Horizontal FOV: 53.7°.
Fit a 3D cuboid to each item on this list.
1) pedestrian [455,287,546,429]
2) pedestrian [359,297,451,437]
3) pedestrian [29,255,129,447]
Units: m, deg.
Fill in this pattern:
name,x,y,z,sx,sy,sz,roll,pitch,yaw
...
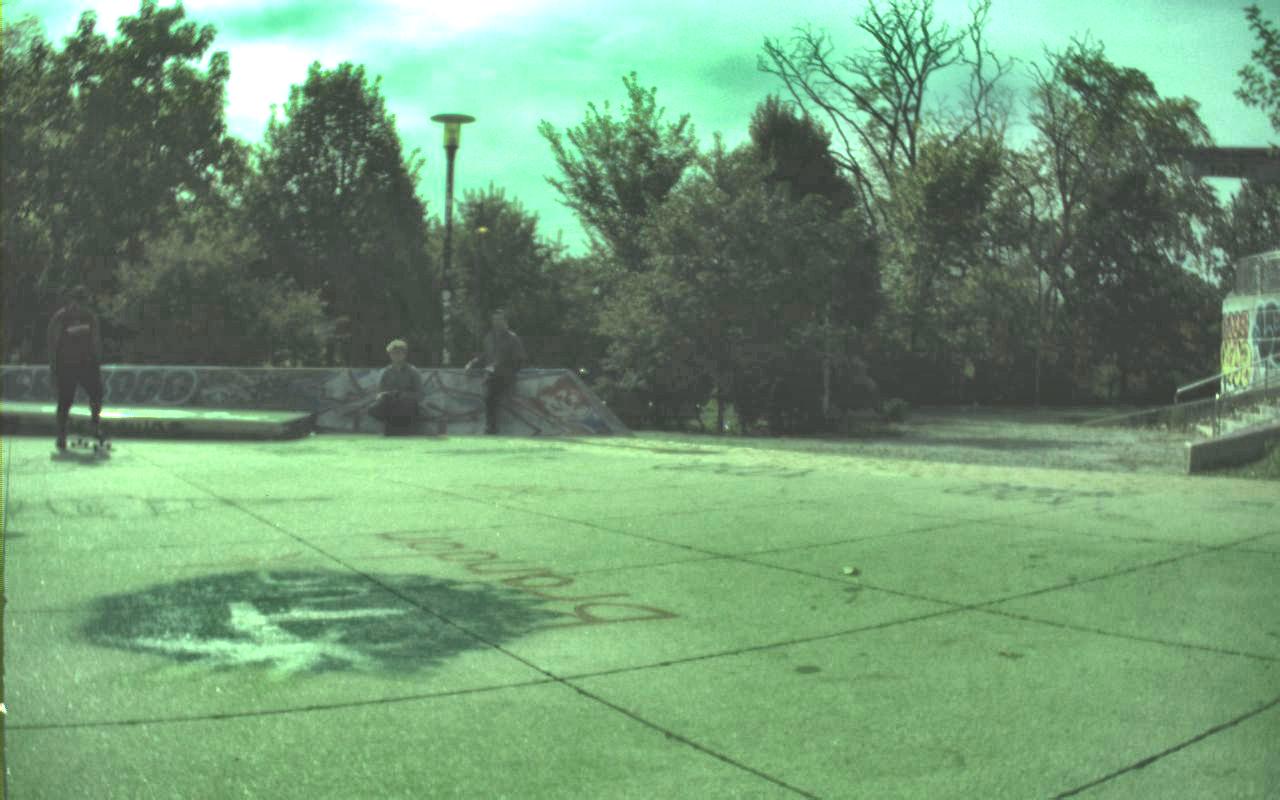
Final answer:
name,x,y,z,sx,sy,sz,roll,pitch,yaw
pedestrian,-1.644,-0.483,14.732,0.839,1.615,0.794,0,0,-27
pedestrian,-2.717,-0.382,14.412,0.831,1.568,0.810,0,0,11
pedestrian,-5.430,-0.436,11.042,0.830,1.763,0.841,0,0,-42
